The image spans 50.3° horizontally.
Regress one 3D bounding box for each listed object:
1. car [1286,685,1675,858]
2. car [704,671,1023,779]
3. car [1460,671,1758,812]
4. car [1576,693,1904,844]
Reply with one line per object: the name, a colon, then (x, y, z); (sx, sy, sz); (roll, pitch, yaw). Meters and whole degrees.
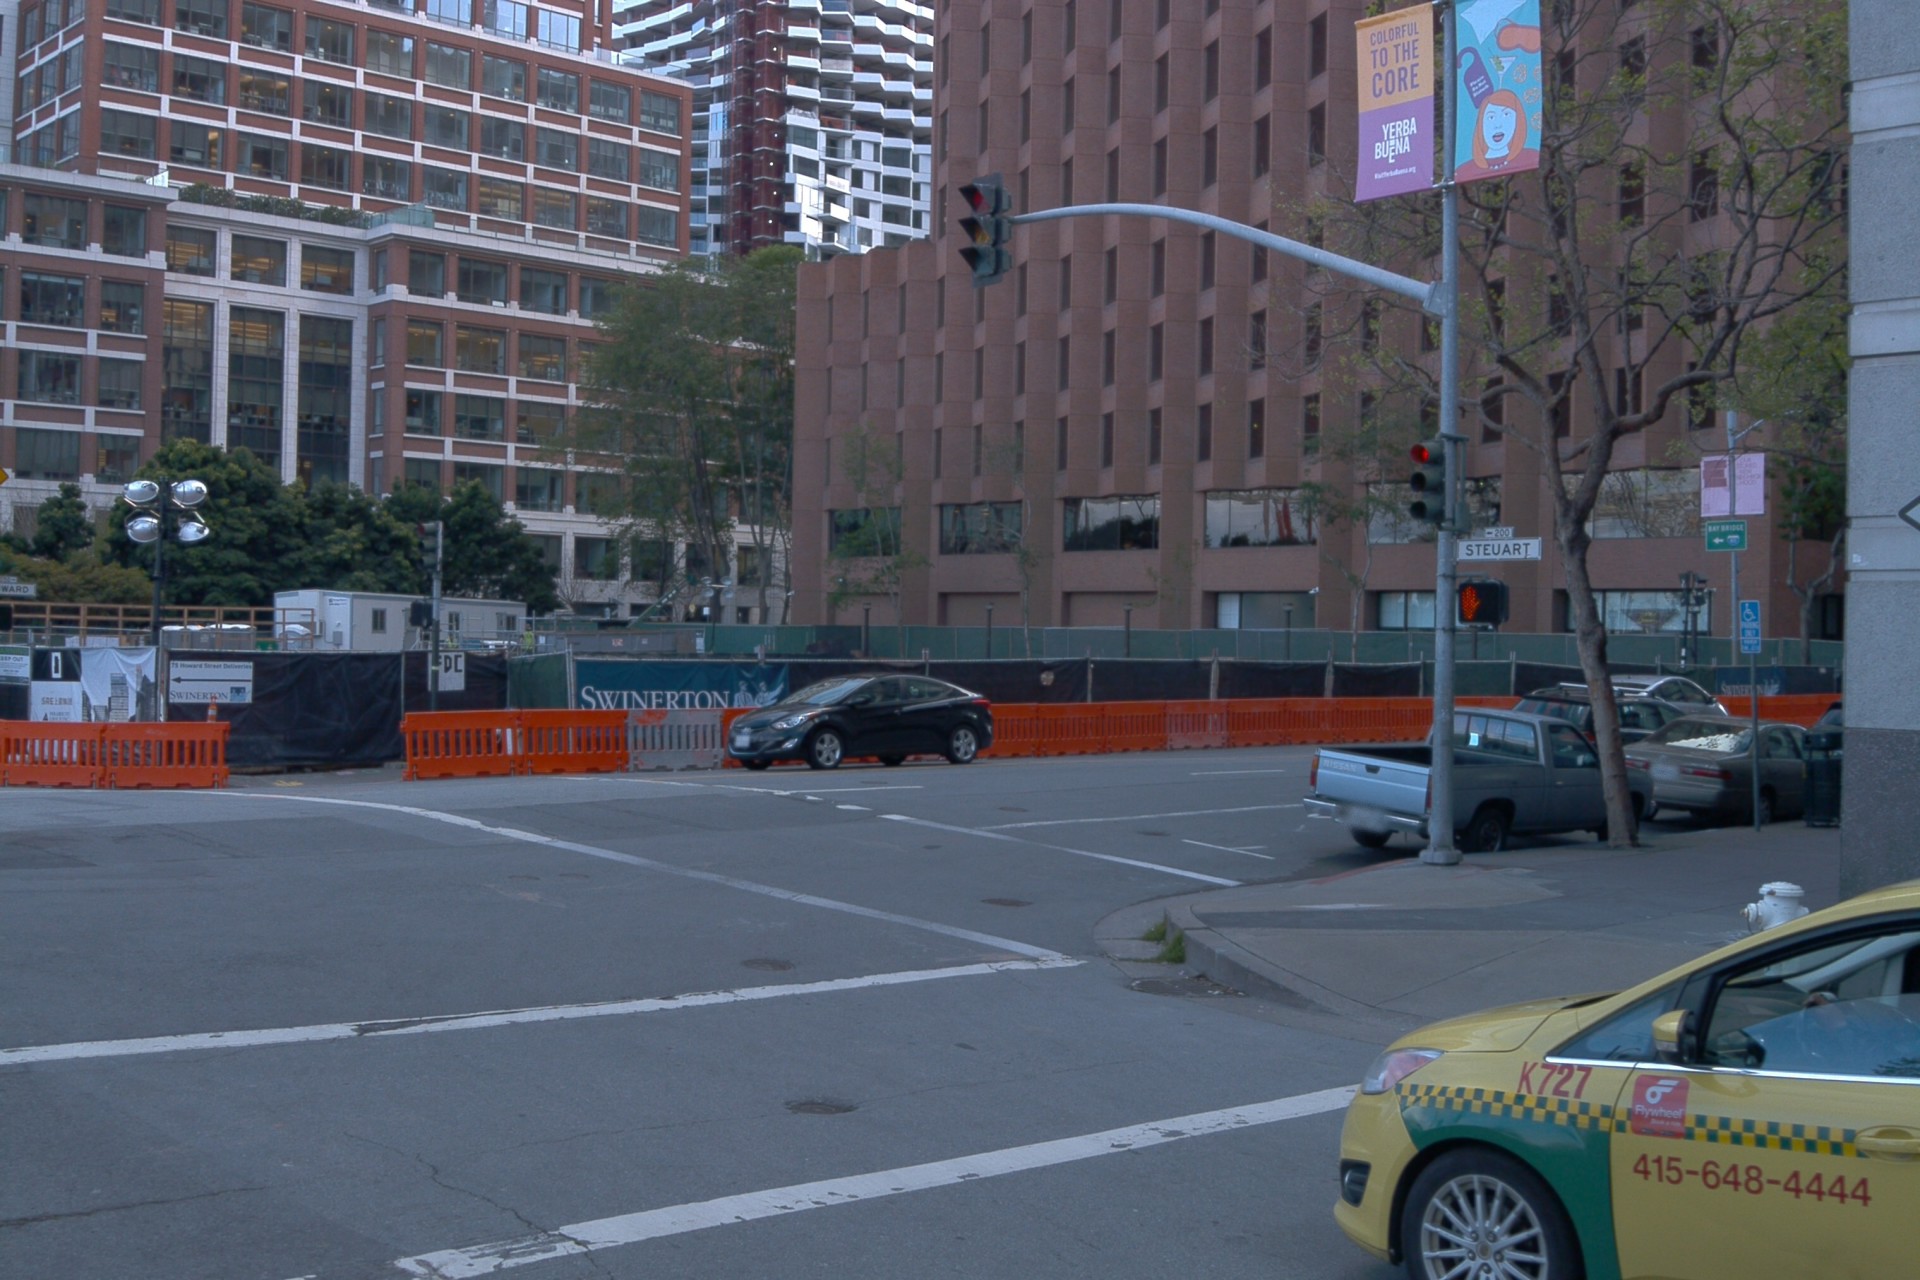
car: (5.800, 1.345, 22.458); (4.672, 1.610, 1.863); (0, 0, -42)
car: (-1.386, 1.220, 30.753); (4.607, 1.430, 1.996); (0, 0, -44)
car: (9.127, 1.348, 28.629); (4.208, 1.760, 2.035); (0, 0, -40)
car: (10.176, 1.578, 26.532); (4.581, 1.660, 2.108); (0, 0, -42)
